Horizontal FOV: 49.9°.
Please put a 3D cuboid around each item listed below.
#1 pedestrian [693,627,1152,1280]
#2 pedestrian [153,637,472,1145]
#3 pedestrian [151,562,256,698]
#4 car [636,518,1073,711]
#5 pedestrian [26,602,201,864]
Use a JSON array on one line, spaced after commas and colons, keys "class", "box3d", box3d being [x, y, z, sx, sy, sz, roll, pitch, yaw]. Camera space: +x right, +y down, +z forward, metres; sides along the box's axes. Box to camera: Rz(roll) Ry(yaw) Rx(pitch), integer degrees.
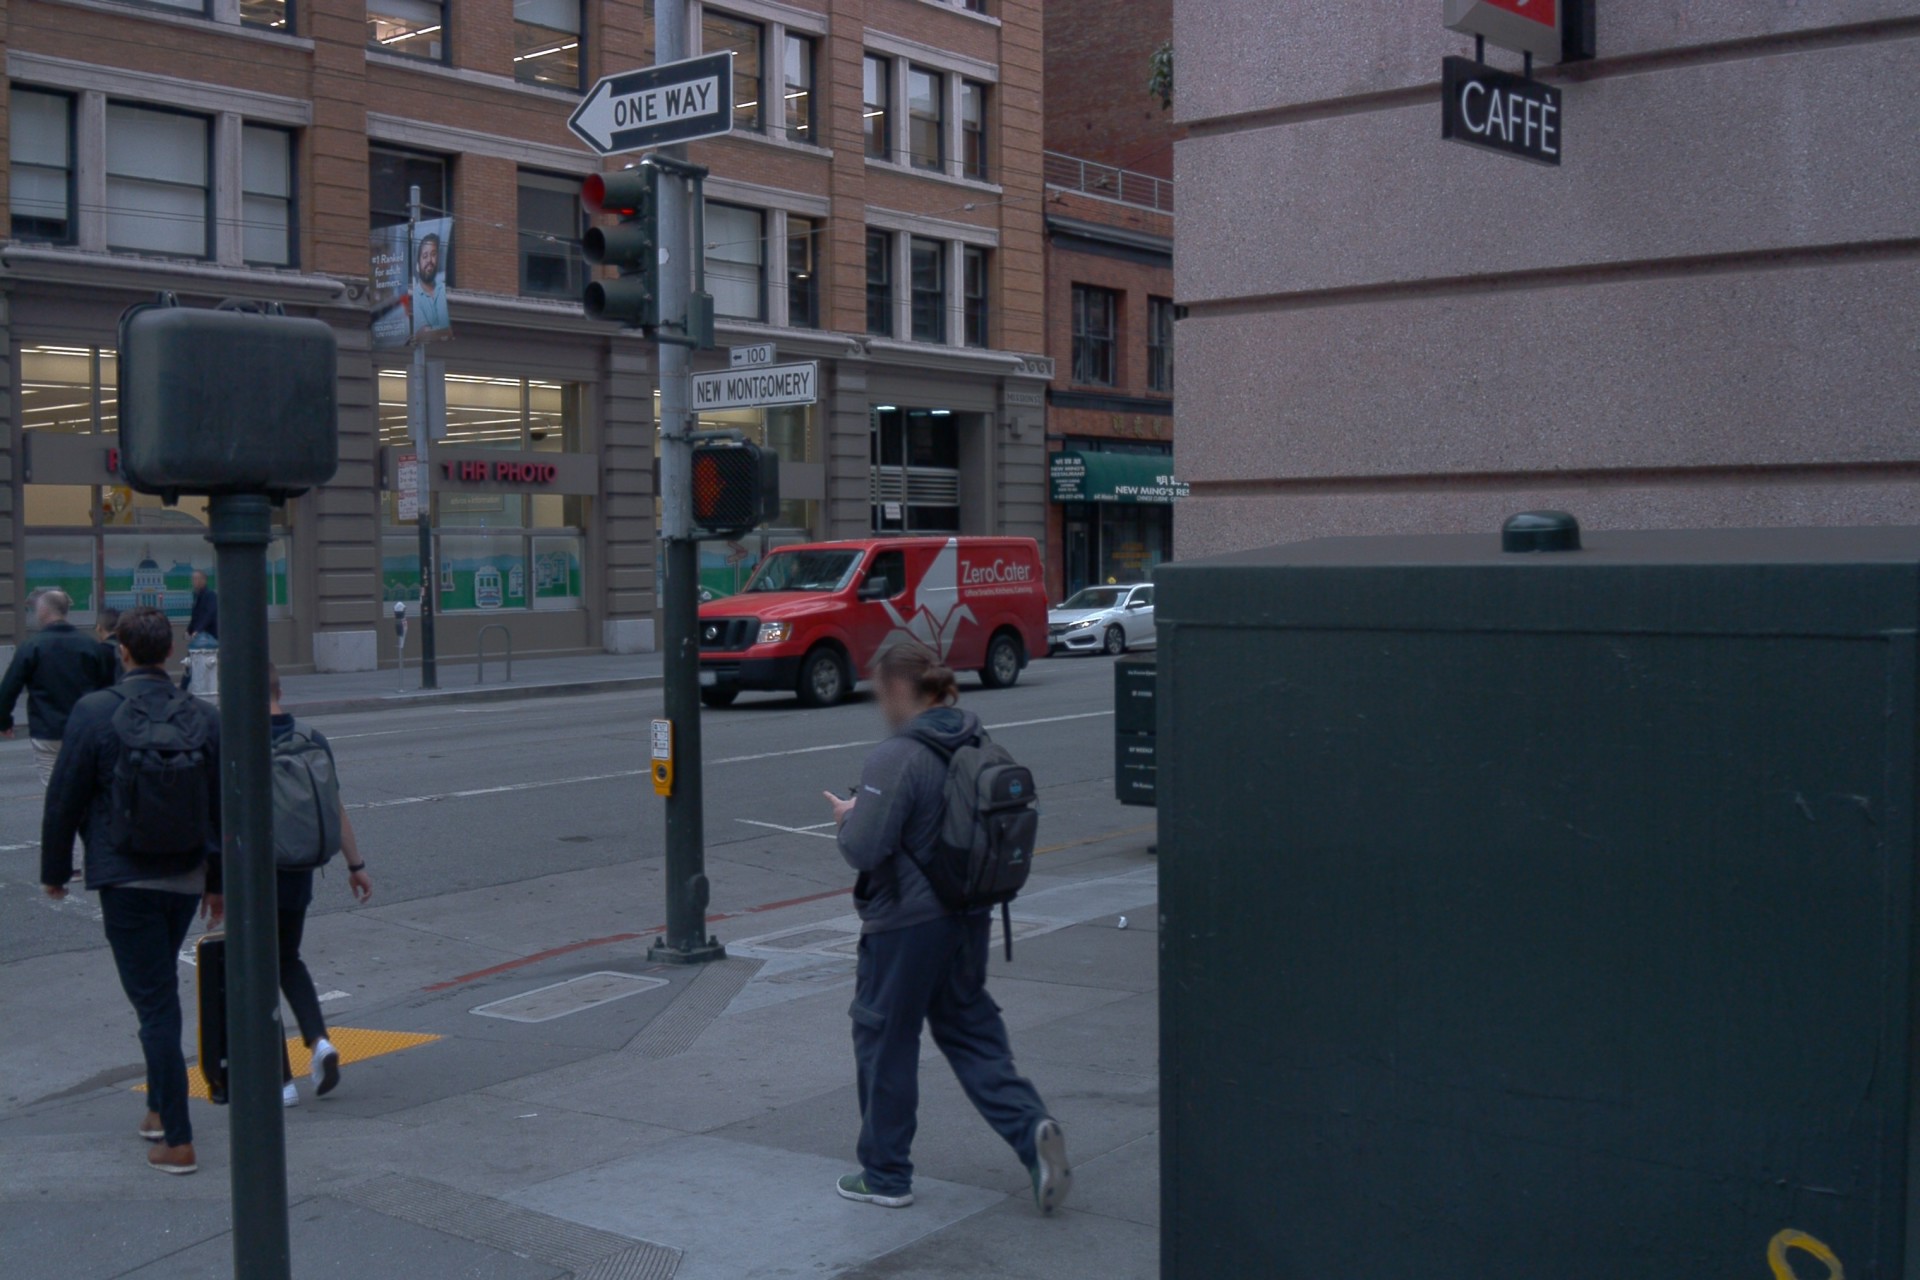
[{"class": "pedestrian", "box3d": [-0.121, 0.864, 6.221, 1.155, 1.800, 0.781, 1, 1, 41]}, {"class": "pedestrian", "box3d": [-2.534, 0.907, 8.084, 0.948, 1.830, 0.811, 1, 1, 42]}, {"class": "pedestrian", "box3d": [-10.796, -0.143, 29.493, 0.862, 1.890, 1.121, 0, 1, 37]}, {"class": "car", "box3d": [-1.208, -0.326, 27.155, 2.356, 2.240, 6.072, 0, 1, 38]}, {"class": "pedestrian", "box3d": [-5.849, 0.613, 14.275, 0.972, 1.740, 0.698, 0, 1, 35]}]
